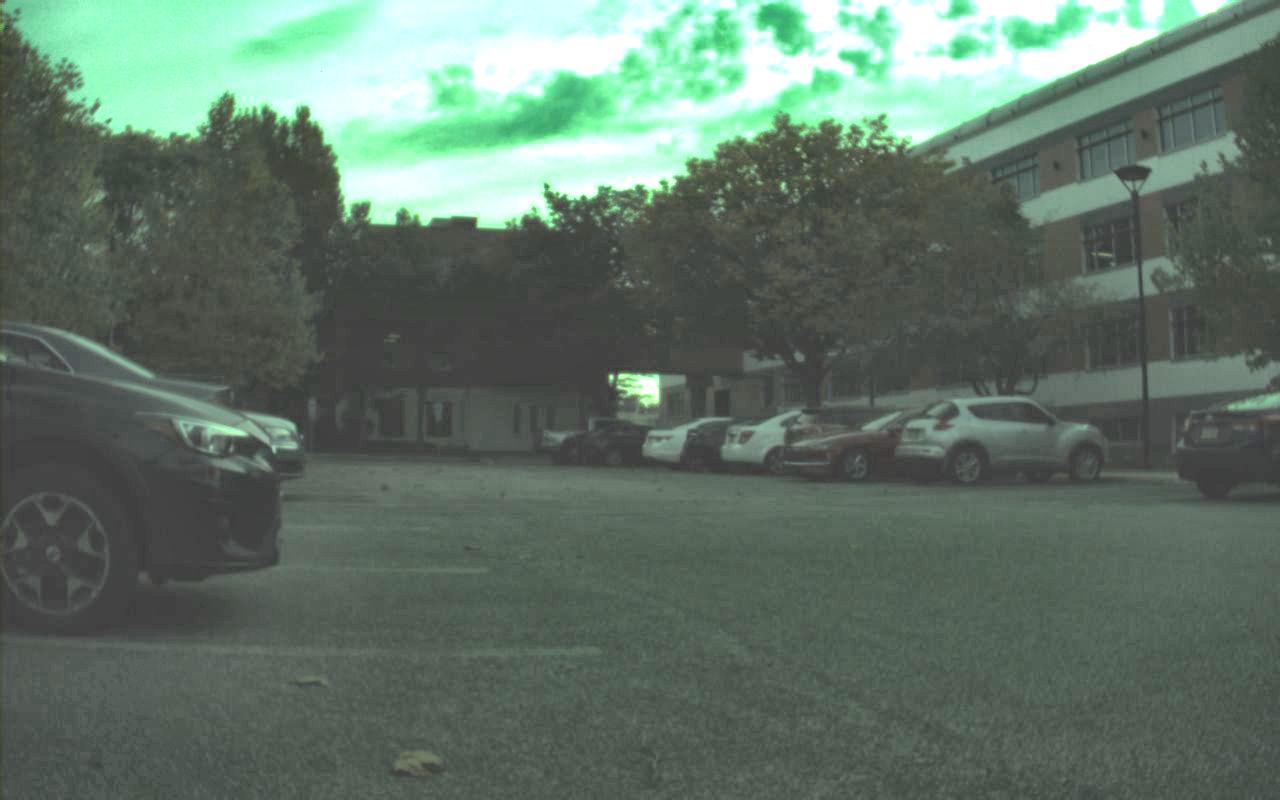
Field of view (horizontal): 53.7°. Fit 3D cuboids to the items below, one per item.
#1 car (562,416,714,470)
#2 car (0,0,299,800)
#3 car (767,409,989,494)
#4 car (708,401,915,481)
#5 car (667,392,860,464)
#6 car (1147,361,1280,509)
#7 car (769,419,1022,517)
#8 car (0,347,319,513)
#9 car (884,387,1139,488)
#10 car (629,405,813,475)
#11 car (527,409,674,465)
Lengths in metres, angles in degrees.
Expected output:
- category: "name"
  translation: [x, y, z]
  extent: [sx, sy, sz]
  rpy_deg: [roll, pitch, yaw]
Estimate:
- category: "car"
  translation: [-0.055, 1.378, 41.371]
  extent: [4.599, 1.601, 1.956]
  rpy_deg: [0, 1, -25]
- category: "car"
  translation: [-3.753, 0.088, 4.802]
  extent: [4.554, 1.657, 2.017]
  rpy_deg: [0, 1, -14]
- category: "car"
  translation: [5.137, 1.066, 26.781]
  extent: [4.414, 1.628, 1.946]
  rpy_deg: [0, 1, -16]
- category: "car"
  translation: [3.999, 0.916, 29.299]
  extent: [4.462, 1.702, 1.957]
  rpy_deg: [0, 1, -13]
- category: "car"
  translation: [3.091, 0.662, 31.663]
  extent: [4.467, 1.676, 1.965]
  rpy_deg: [0, 1, -17]
- category: "car"
  translation: [8.675, 0.396, 14.192]
  extent: [4.570, 1.639, 1.961]
  rpy_deg: [0, 1, -19]
- category: "car"
  translation: [4.943, 1.261, 23.941]
  extent: [4.555, 1.638, 1.958]
  rpy_deg: [0, 1, -15]
- category: "car"
  translation: [-5.731, 0.305, 12.488]
  extent: [4.650, 1.637, 1.993]
  rpy_deg: [0, 1, -18]
- category: "car"
  translation: [6.639, 0.615, 21.614]
  extent: [4.302, 1.625, 1.893]
  rpy_deg: [0, 1, -15]
- category: "car"
  translation: [2.174, 1.040, 34.043]
  extent: [4.588, 1.719, 1.992]
  rpy_deg: [0, 1, -15]
- category: "car"
  translation: [-1.463, 1.330, 46.213]
  extent: [5.019, 1.917, 2.094]
  rpy_deg: [0, 1, -18]
